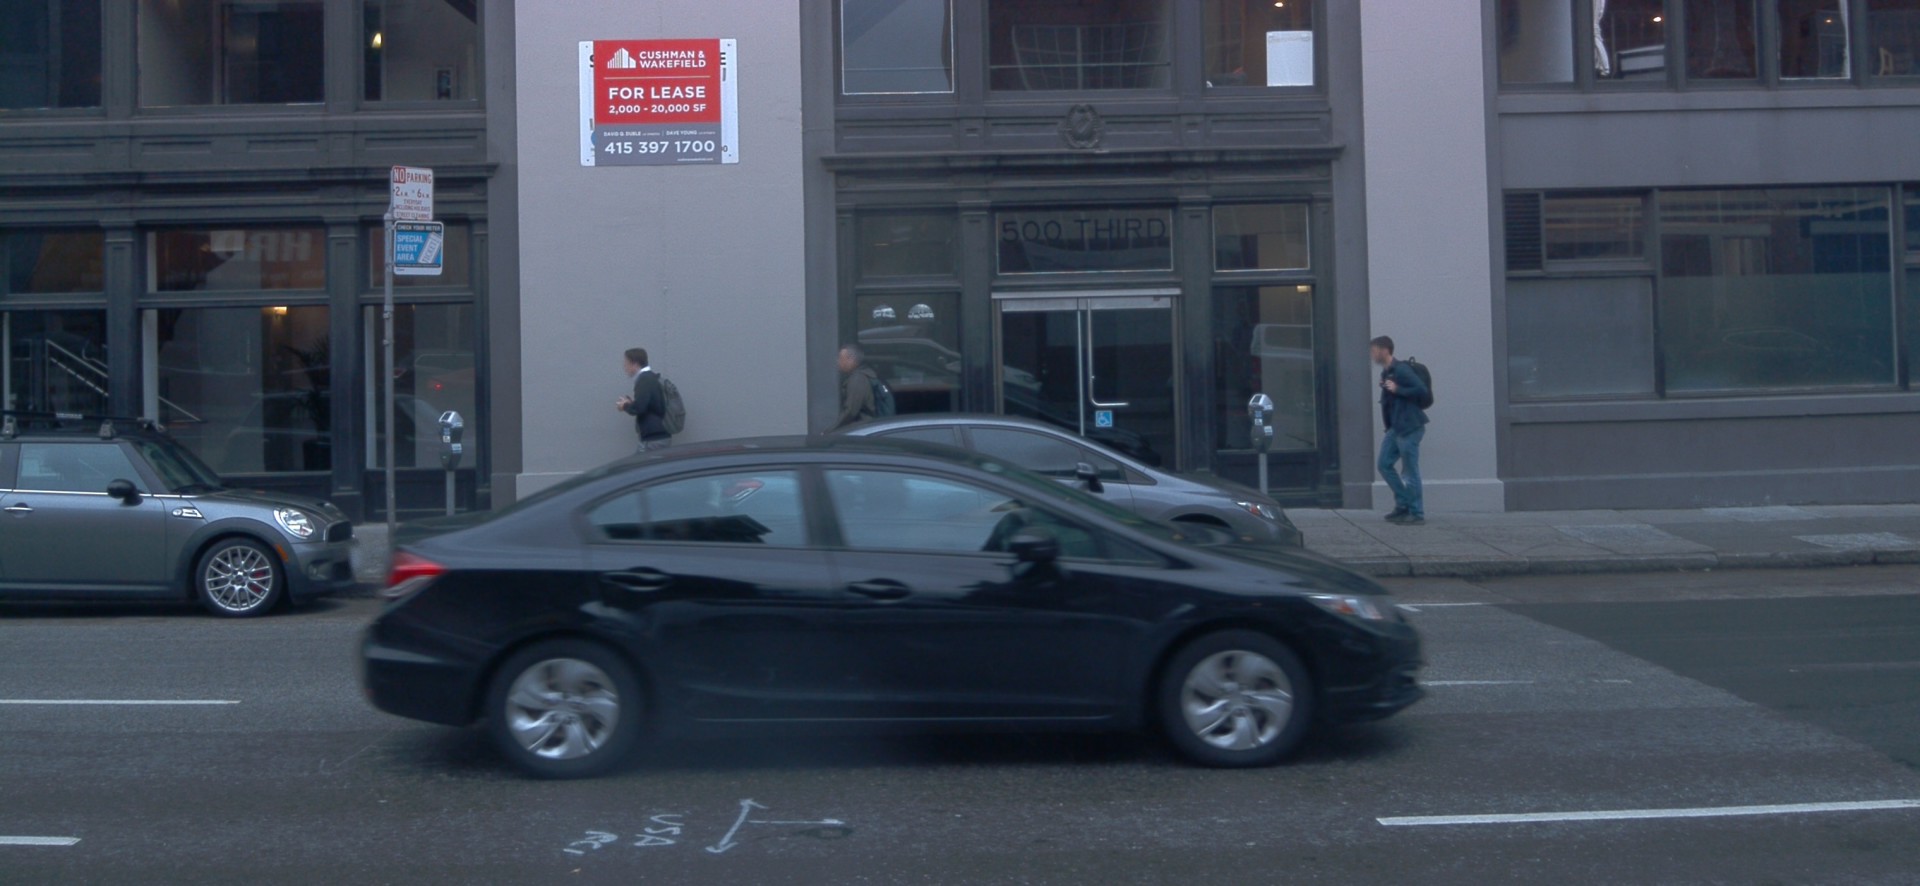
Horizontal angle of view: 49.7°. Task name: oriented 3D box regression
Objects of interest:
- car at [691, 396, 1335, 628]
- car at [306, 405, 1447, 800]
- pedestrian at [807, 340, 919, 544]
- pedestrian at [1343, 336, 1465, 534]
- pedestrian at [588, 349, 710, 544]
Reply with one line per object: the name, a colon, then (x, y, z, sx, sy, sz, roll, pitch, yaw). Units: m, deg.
car: (0.351, 0.463, 15.870, 4.616, 1.477, 2.025, 0, 4, -3)
car: (-0.351, 0.631, 9.556, 4.699, 1.437, 2.007, 0, 4, -2)
pedestrian: (-0.893, -0.033, 19.228, 1.010, 1.800, 0.864, 0, 1, -2)
pedestrian: (4.137, -0.095, 19.388, 0.948, 1.770, 0.839, 0, 1, -1)
pedestrian: (-2.914, 0.010, 19.529, 1.027, 1.740, 0.850, 0, 1, -2)
